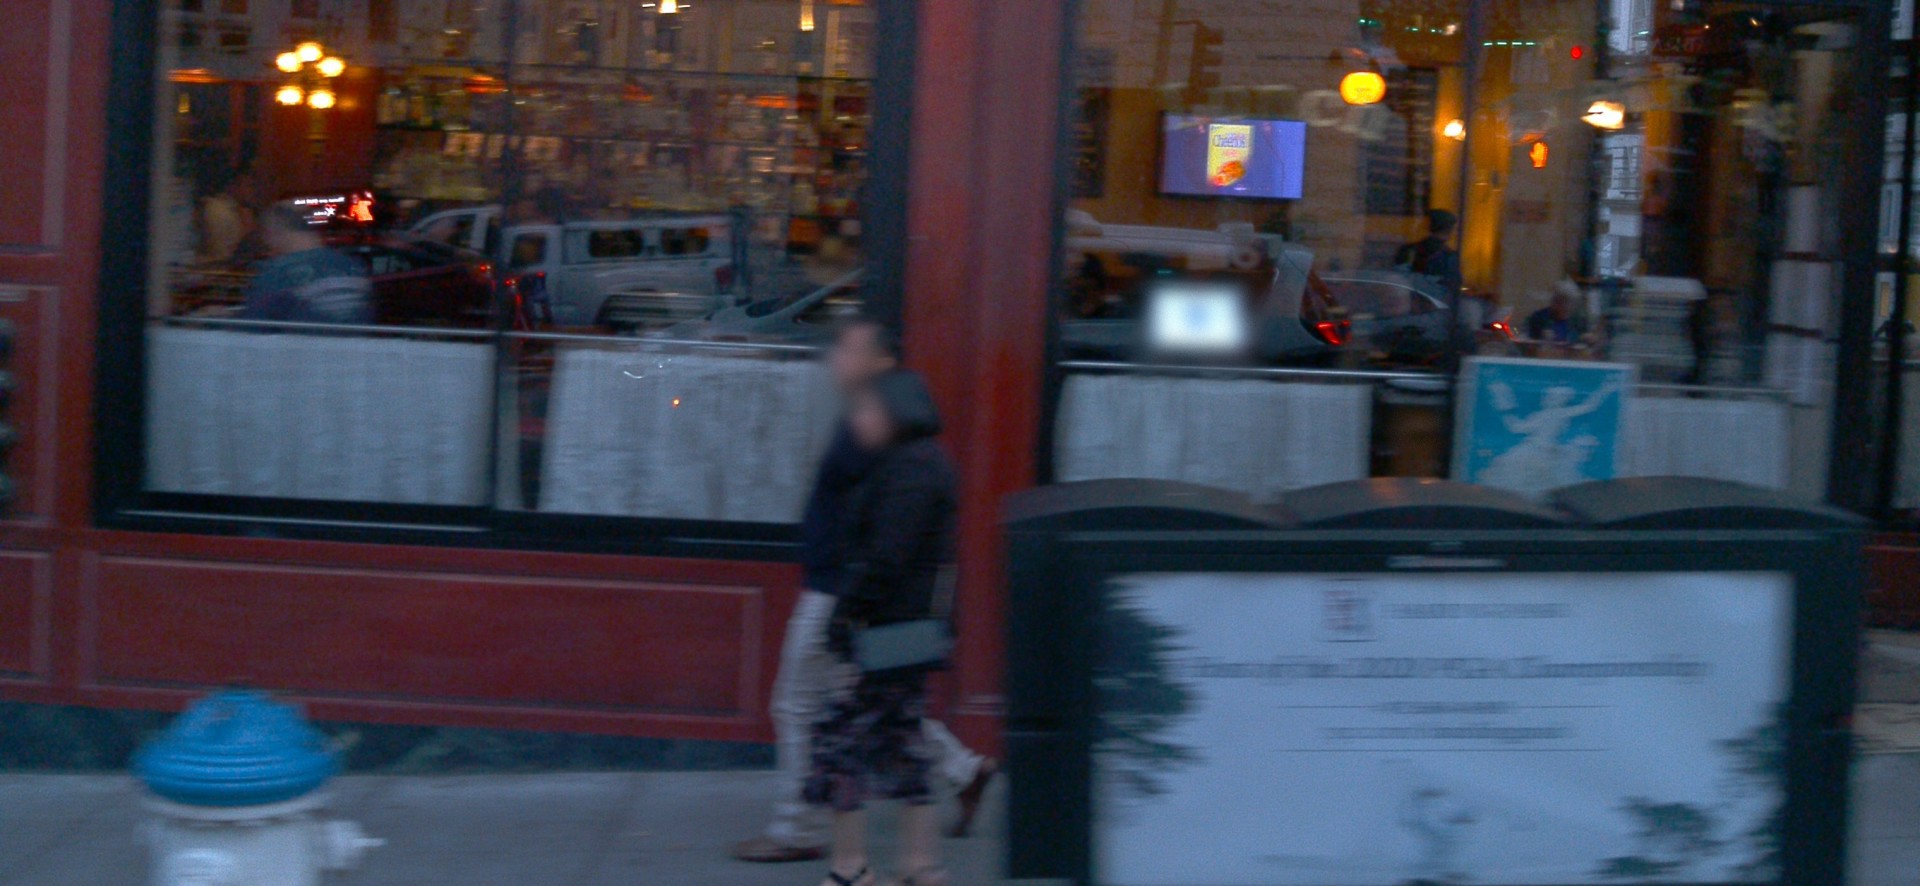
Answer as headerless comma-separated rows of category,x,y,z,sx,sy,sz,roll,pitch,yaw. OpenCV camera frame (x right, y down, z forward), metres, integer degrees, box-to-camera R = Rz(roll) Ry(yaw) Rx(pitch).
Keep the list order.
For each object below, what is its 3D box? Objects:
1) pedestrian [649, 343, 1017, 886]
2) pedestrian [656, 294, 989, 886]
pedestrian,-0.321,0.570,5.727,0.957,1.655,0.768,0,1,1
pedestrian,-0.392,0.436,6.324,0.955,1.765,0.842,0,1,0
